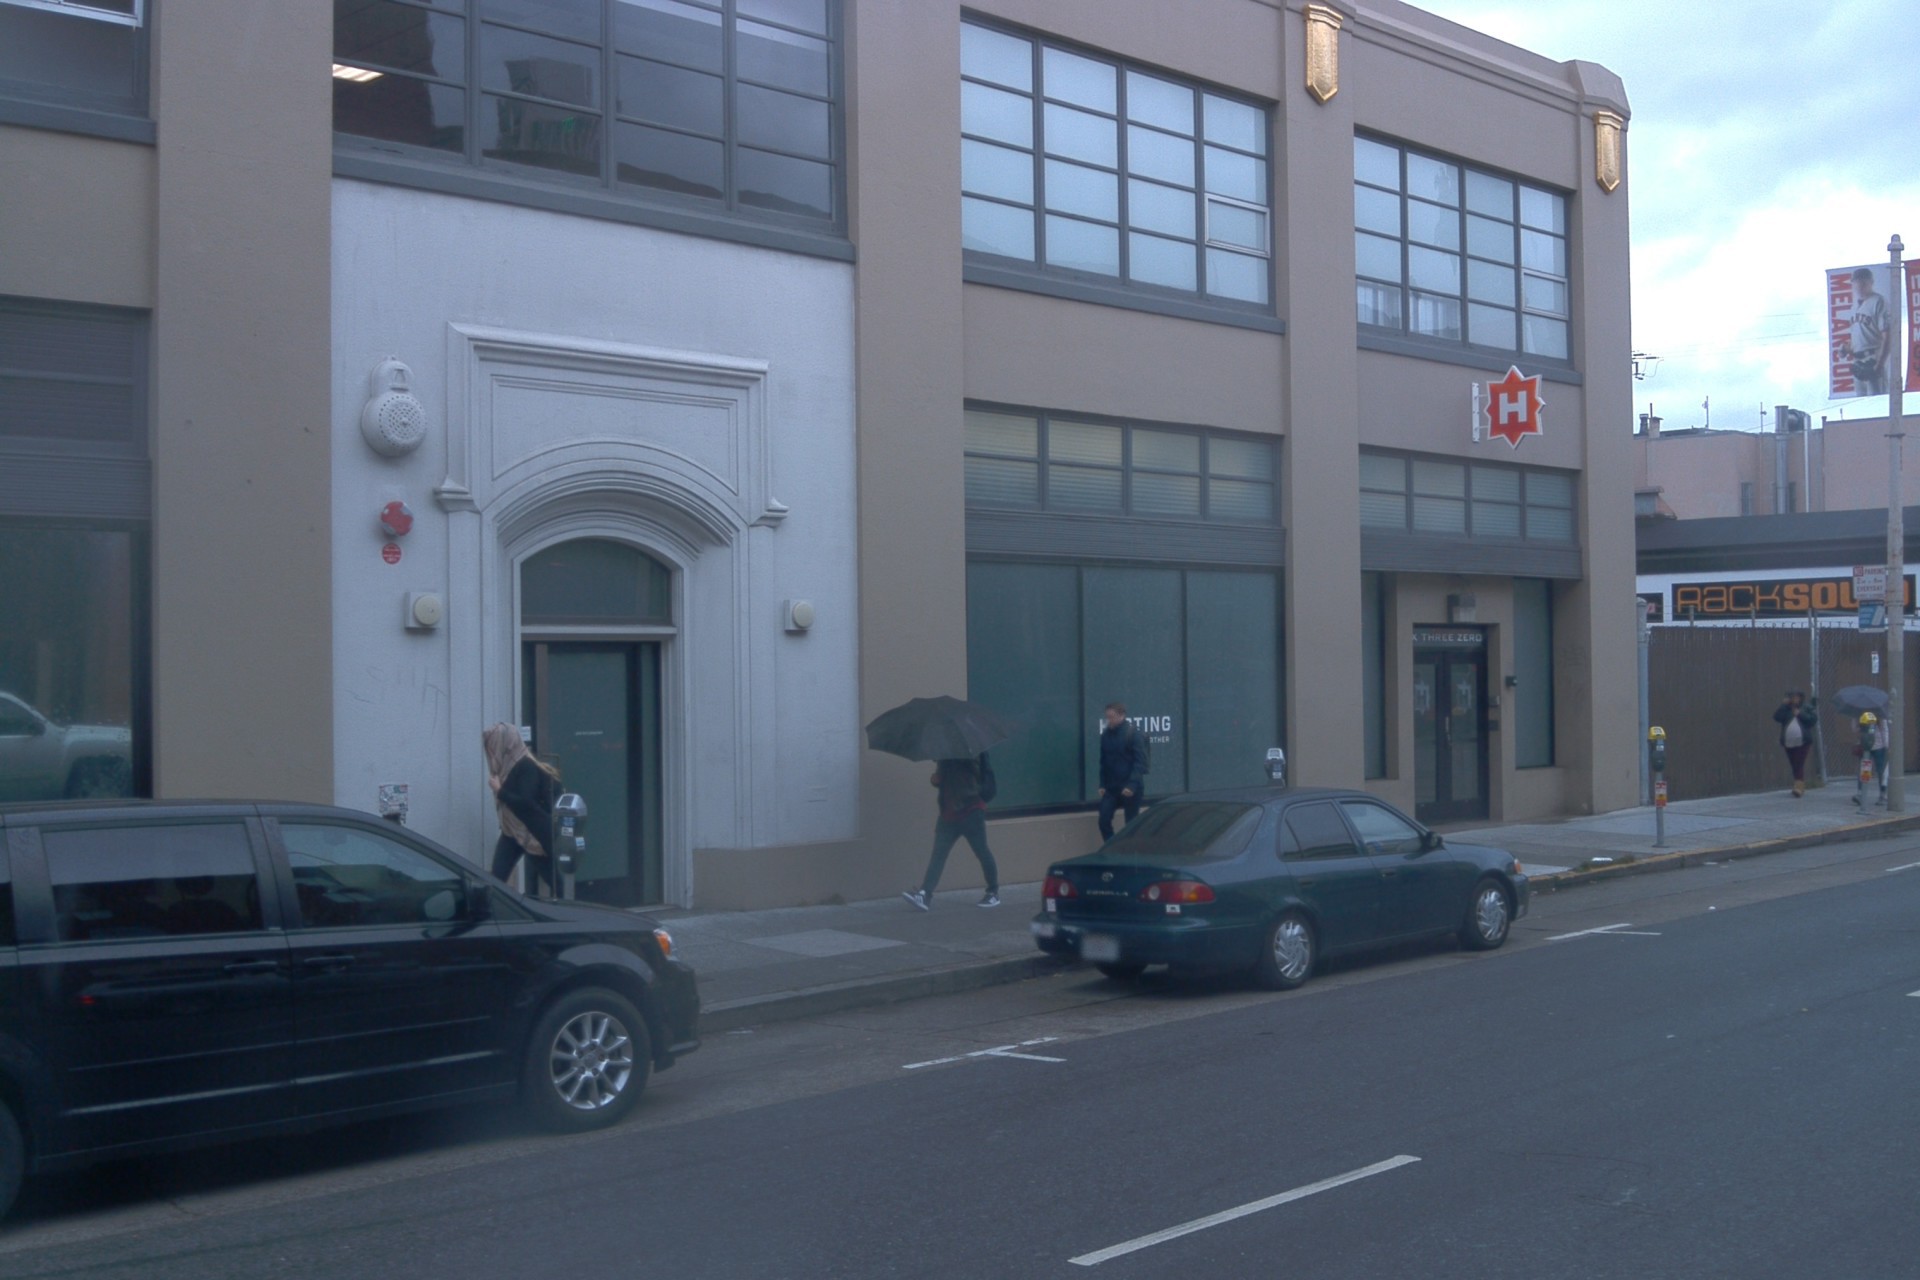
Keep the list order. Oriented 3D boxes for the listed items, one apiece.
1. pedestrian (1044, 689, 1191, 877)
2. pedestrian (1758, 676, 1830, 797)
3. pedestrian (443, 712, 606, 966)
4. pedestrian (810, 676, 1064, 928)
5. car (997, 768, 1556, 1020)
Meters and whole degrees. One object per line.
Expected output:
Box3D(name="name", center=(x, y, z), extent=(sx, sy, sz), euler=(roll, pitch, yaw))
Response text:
Box3D(name="pedestrian", center=(1.516, 1.341, 19.958), extent=(1.083, 1.708, 0.924), euler=(0, 0, -45))
Box3D(name="pedestrian", center=(12.095, 1.388, 30.169), extent=(0.741, 1.700, 0.777), euler=(0, 0, 42))
Box3D(name="pedestrian", center=(-3.176, 1.415, 15.165), extent=(0.852, 1.740, 0.841), euler=(0, 0, -43))
Box3D(name="pedestrian", center=(-0.189, 1.297, 17.449), extent=(1.495, 1.950, 1.513), euler=(0, 0, 43))
Box3D(name="car", center=(2.445, 1.736, 15.301), extent=(4.350, 1.328, 1.799), euler=(0, 0, -44))
